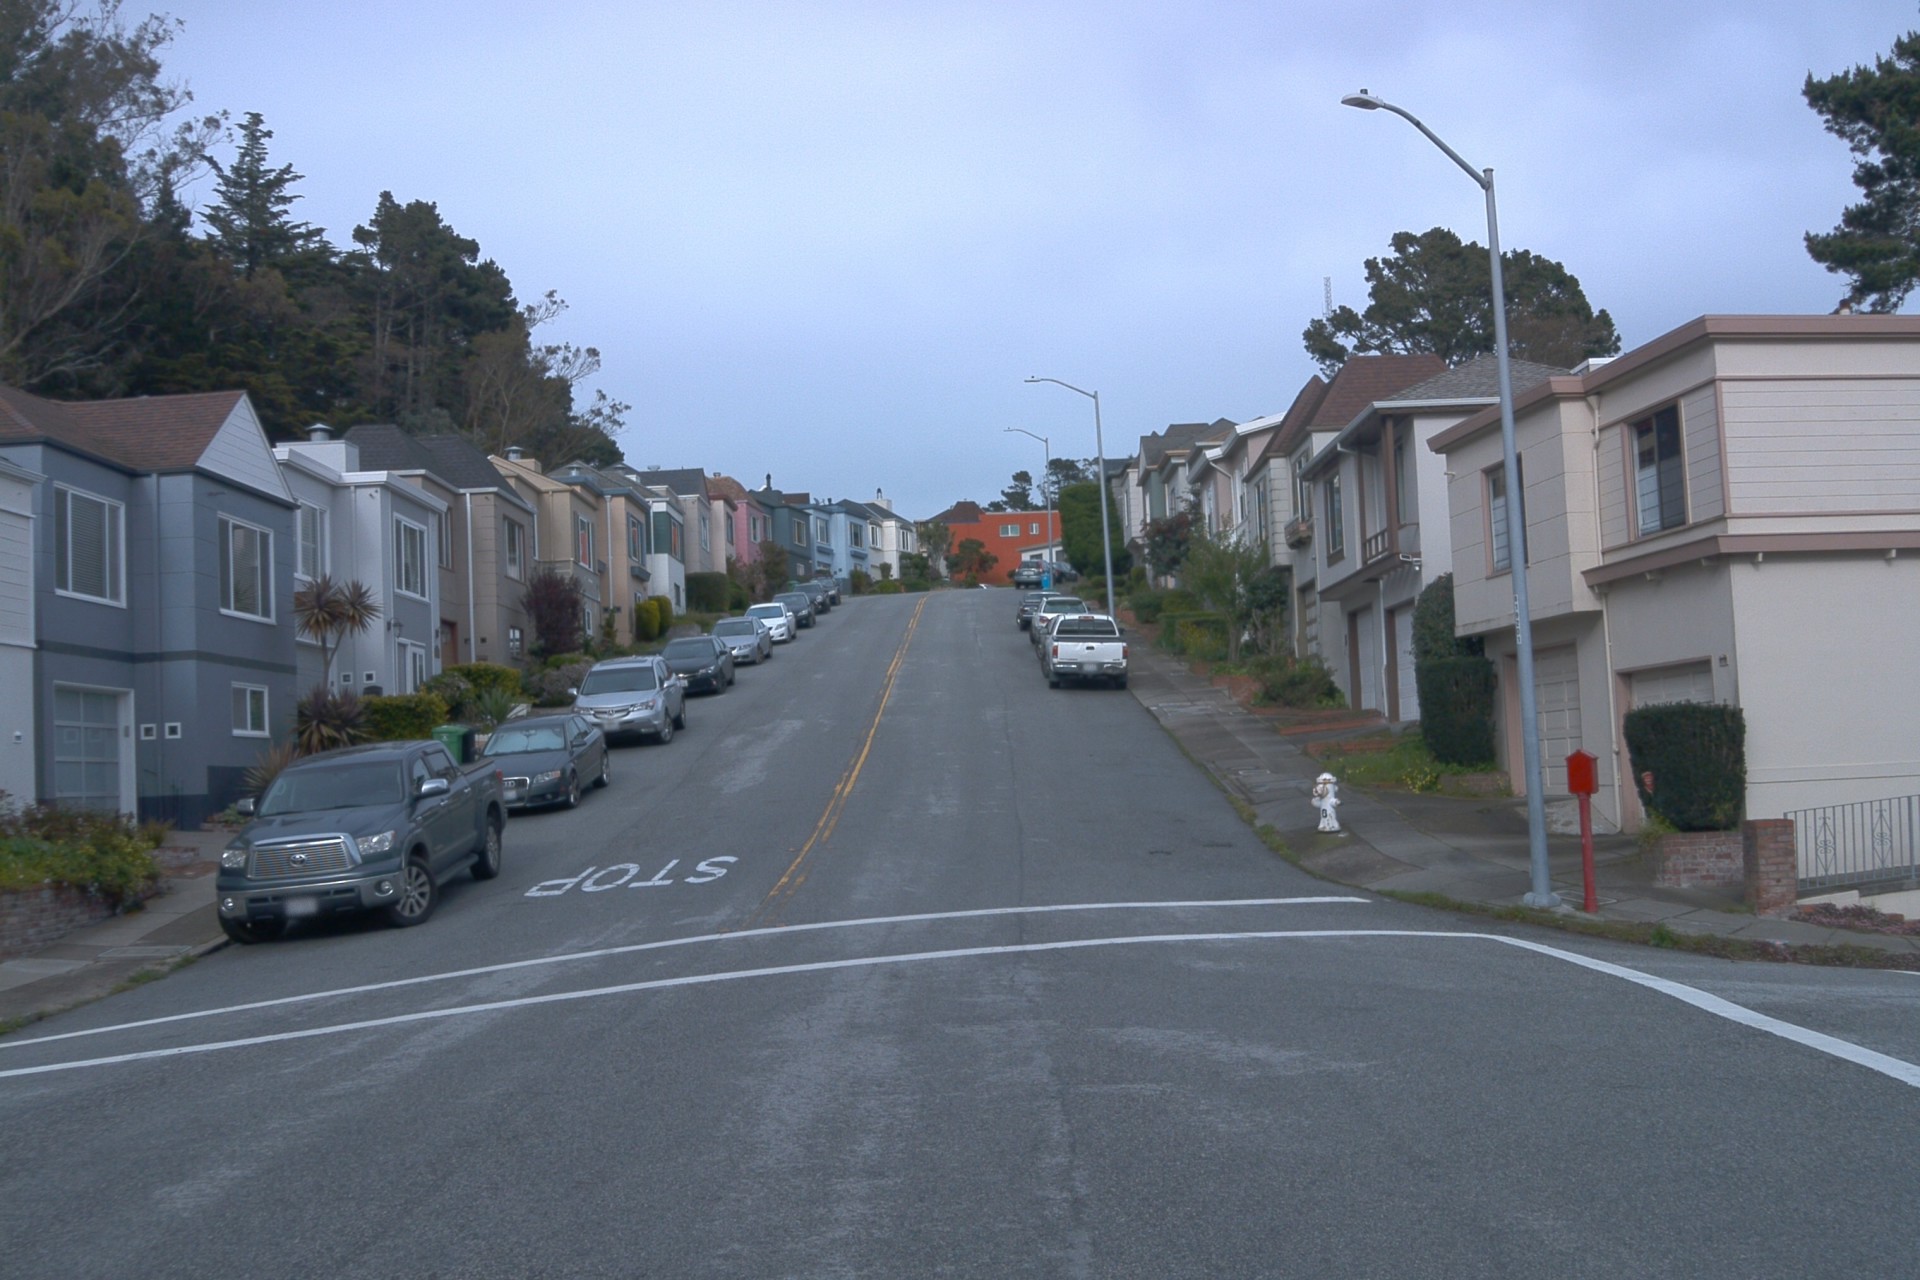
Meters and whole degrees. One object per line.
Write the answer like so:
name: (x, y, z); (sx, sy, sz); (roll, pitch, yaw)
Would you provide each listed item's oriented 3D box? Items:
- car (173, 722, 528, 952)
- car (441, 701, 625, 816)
car: (-7.015, 2.188, 24.713); (2.477, 2.200, 6.030); (0, 0, 0)
car: (-7.046, 1.922, 34.691); (1.958, 1.680, 4.567); (0, 0, 3)
